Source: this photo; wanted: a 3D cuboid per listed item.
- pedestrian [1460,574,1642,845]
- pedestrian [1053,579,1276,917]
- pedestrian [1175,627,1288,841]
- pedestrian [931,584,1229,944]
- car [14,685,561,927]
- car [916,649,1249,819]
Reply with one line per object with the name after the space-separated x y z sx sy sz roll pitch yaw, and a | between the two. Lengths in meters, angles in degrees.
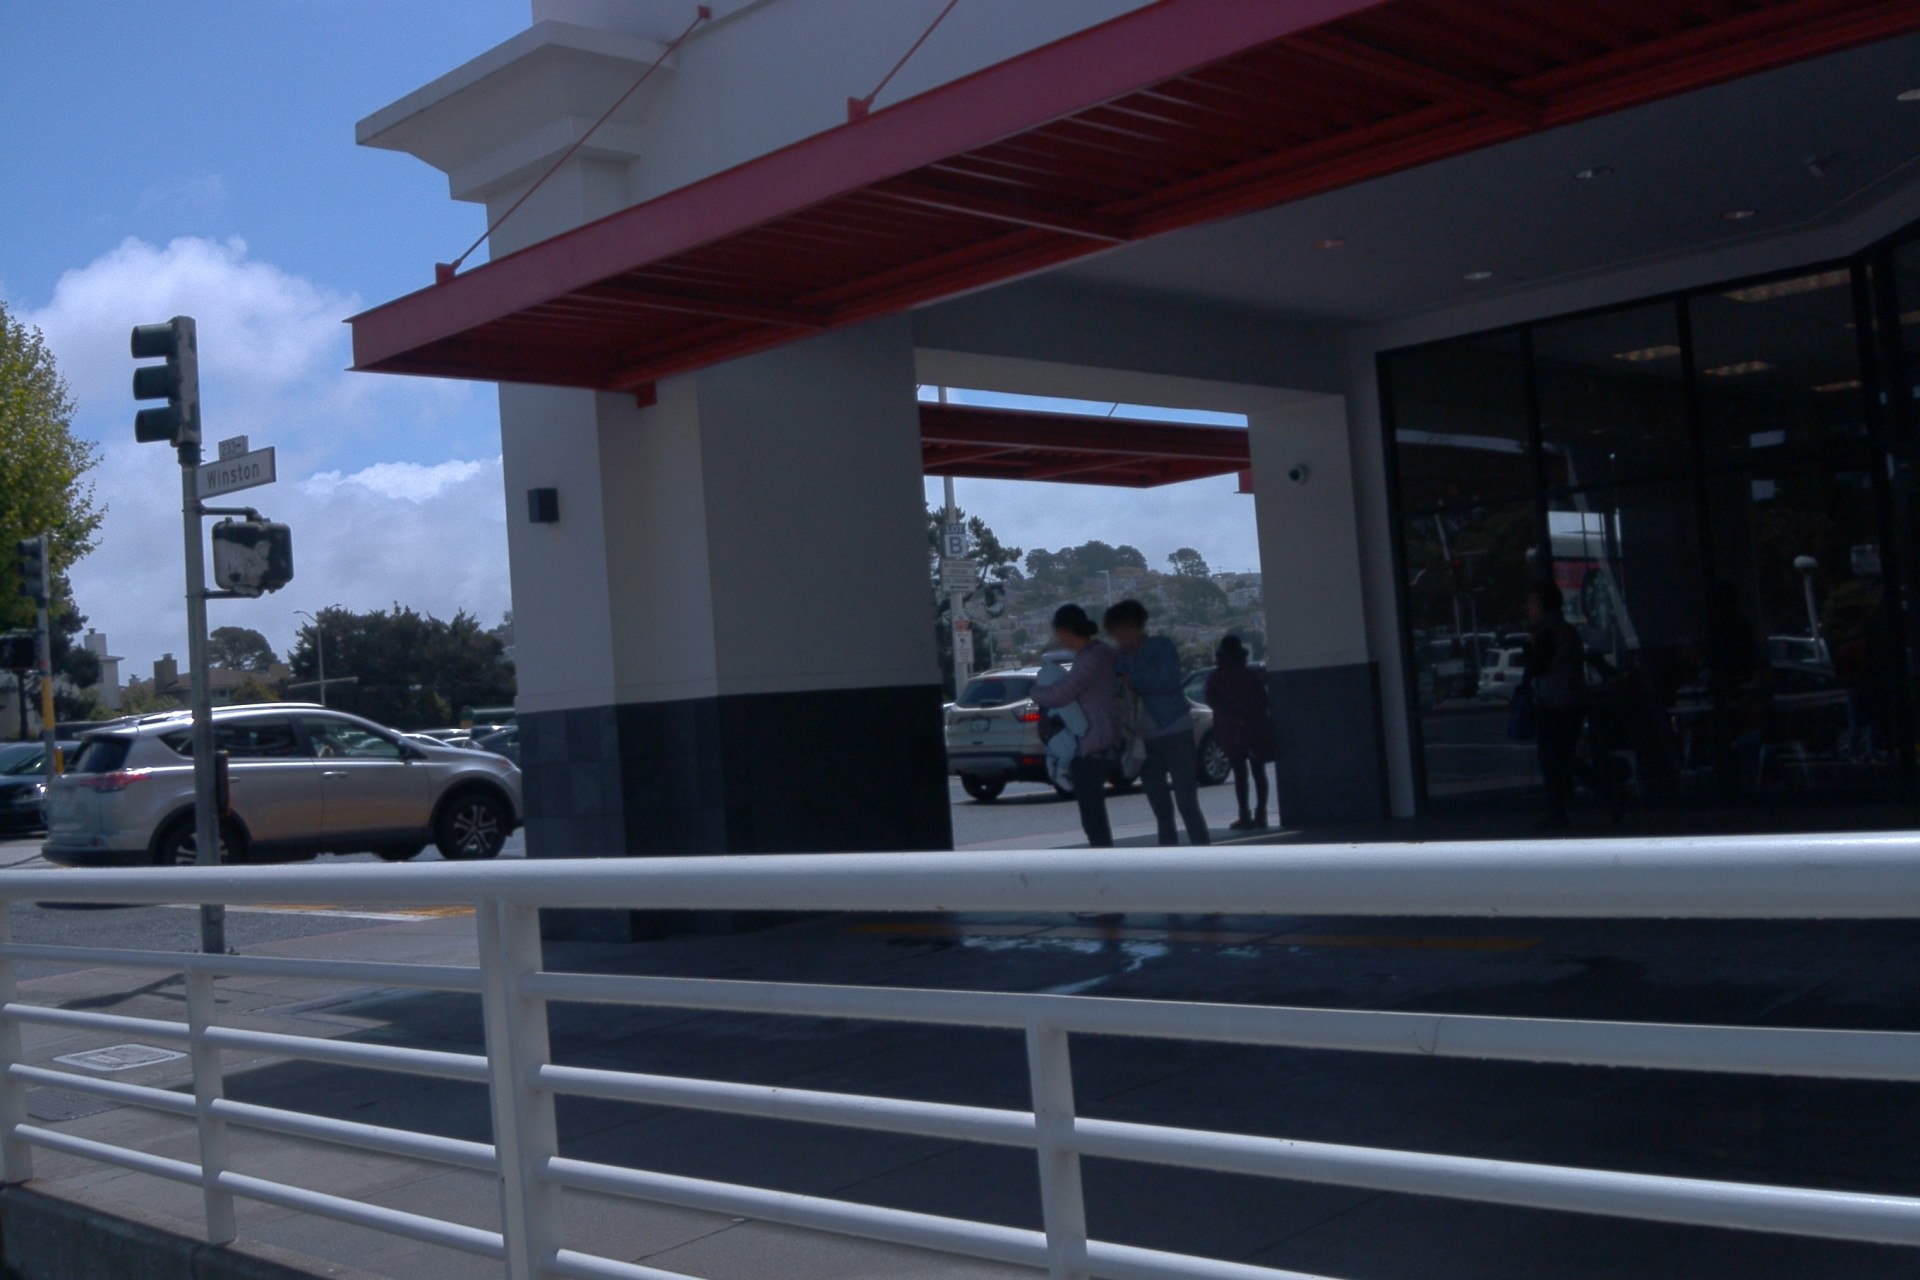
3.890 0.430 13.527 0.838 1.700 0.880 0 0 43 | pedestrian
1.089 0.536 10.895 0.828 1.690 0.876 0 0 38 | pedestrian
2.210 0.738 16.682 0.815 1.680 0.817 0 0 14 | pedestrian
0.610 0.579 10.476 1.058 1.700 1.078 0 0 -42 | pedestrian
-6.347 1.453 19.678 4.486 1.900 2.142 -1 1 -41 | car
1.666 1.131 26.803 2.024 1.960 4.298 0 1 44 | car
